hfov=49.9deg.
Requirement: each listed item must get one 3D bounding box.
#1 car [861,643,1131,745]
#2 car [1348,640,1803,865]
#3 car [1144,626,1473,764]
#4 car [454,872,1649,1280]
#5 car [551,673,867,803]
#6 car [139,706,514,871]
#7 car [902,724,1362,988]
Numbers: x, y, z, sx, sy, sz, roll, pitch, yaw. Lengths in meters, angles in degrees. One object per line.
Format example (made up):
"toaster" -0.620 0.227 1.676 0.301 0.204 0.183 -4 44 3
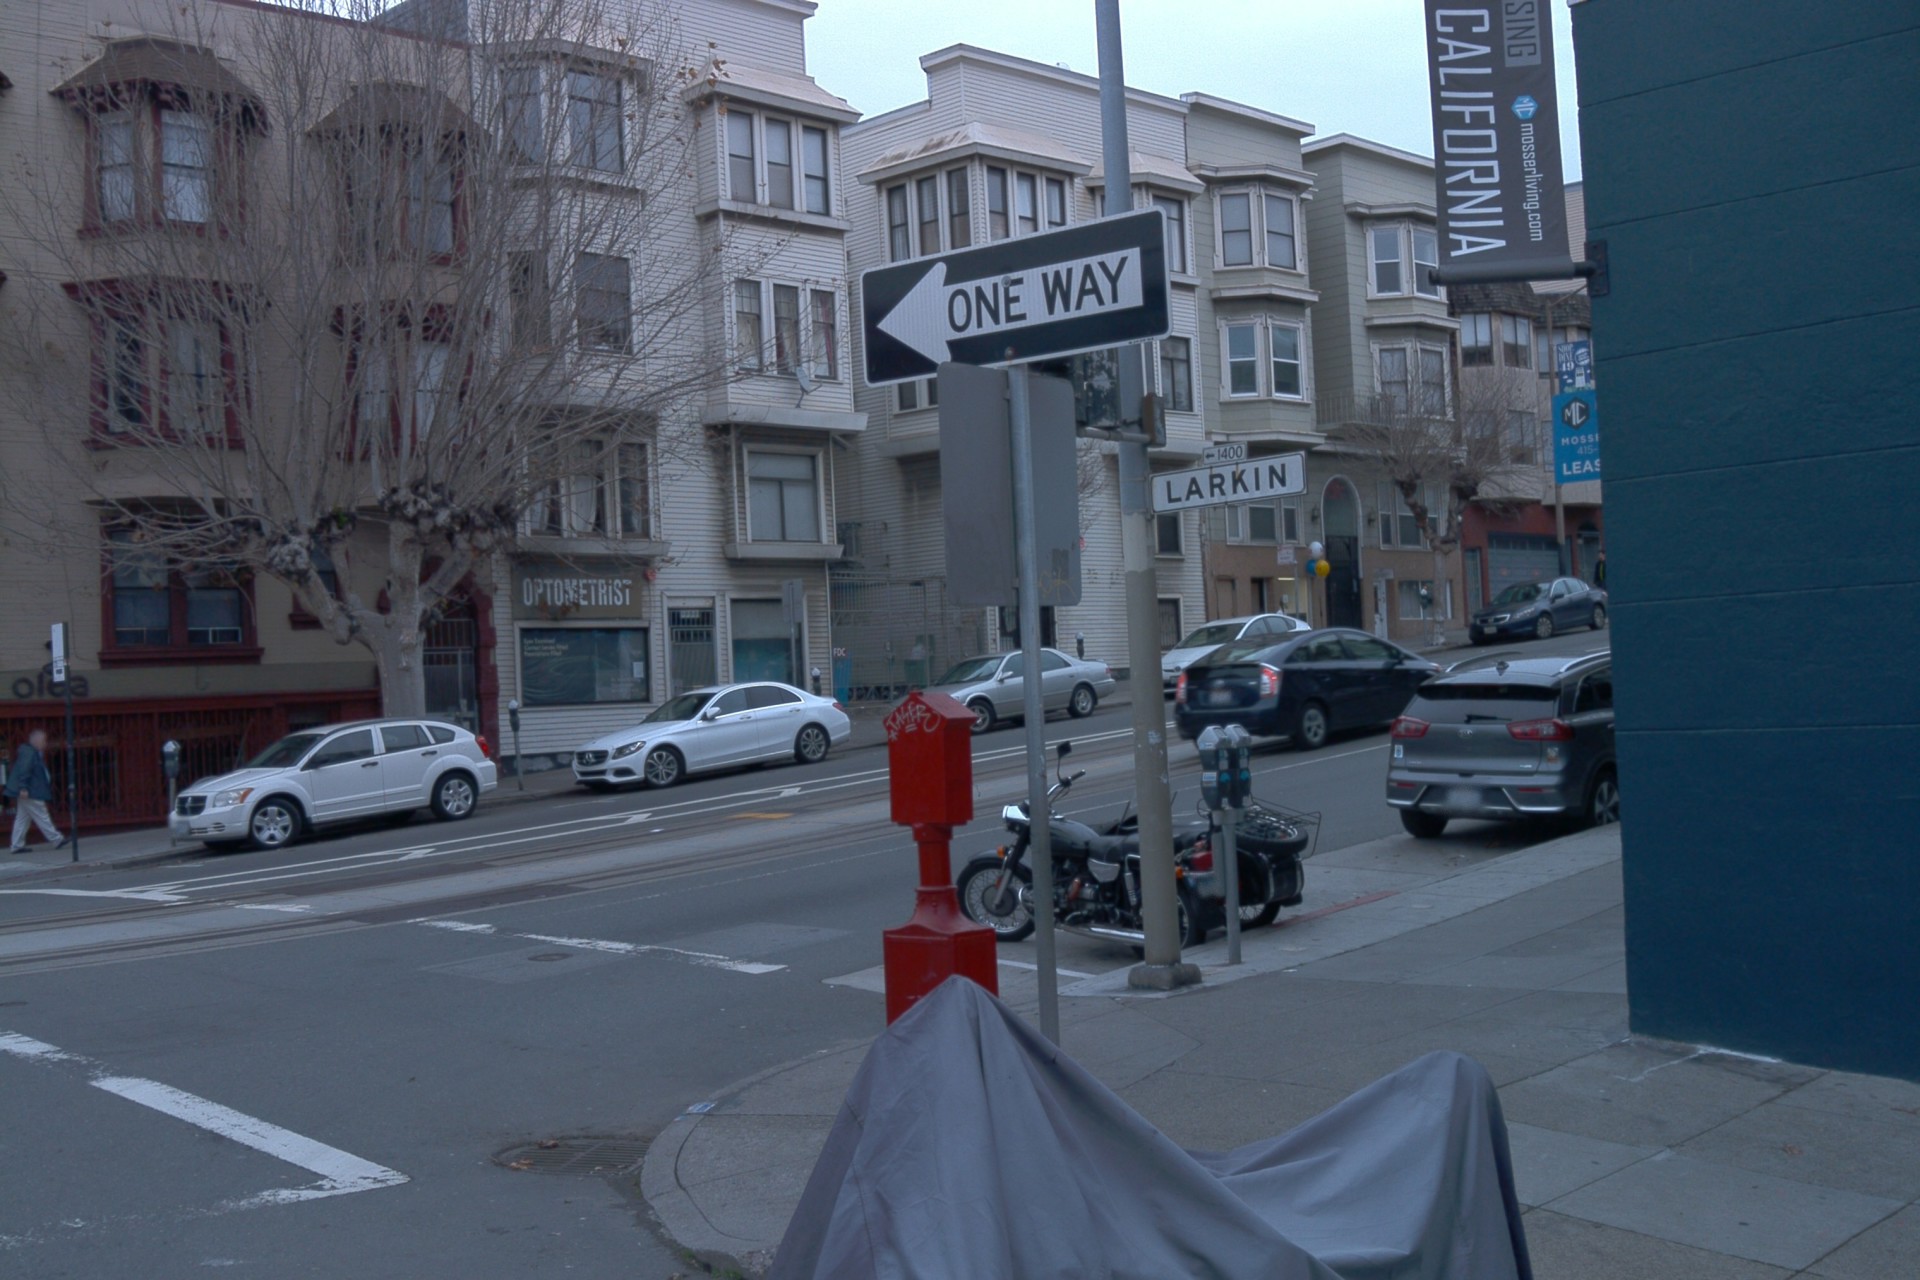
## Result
"car" 0.712 0.916 37.121 4.801 1.657 2.084 -1 1 -45
"car" 5.645 0.882 18.583 2.132 1.717 4.606 0 1 42
"car" 4.678 0.648 27.330 2.078 1.660 4.518 1 1 44
"car" 0.332 1.392 4.286 2.490 1.520 1.048 -1 1 -44
"car" -3.872 1.462 32.361 4.589 1.757 2.074 -1 1 -44
"car" -8.482 1.915 27.920 2.053 1.847 4.407 1 1 44
"car" 1.133 1.377 14.055 2.745 1.460 1.540 0 1 42
